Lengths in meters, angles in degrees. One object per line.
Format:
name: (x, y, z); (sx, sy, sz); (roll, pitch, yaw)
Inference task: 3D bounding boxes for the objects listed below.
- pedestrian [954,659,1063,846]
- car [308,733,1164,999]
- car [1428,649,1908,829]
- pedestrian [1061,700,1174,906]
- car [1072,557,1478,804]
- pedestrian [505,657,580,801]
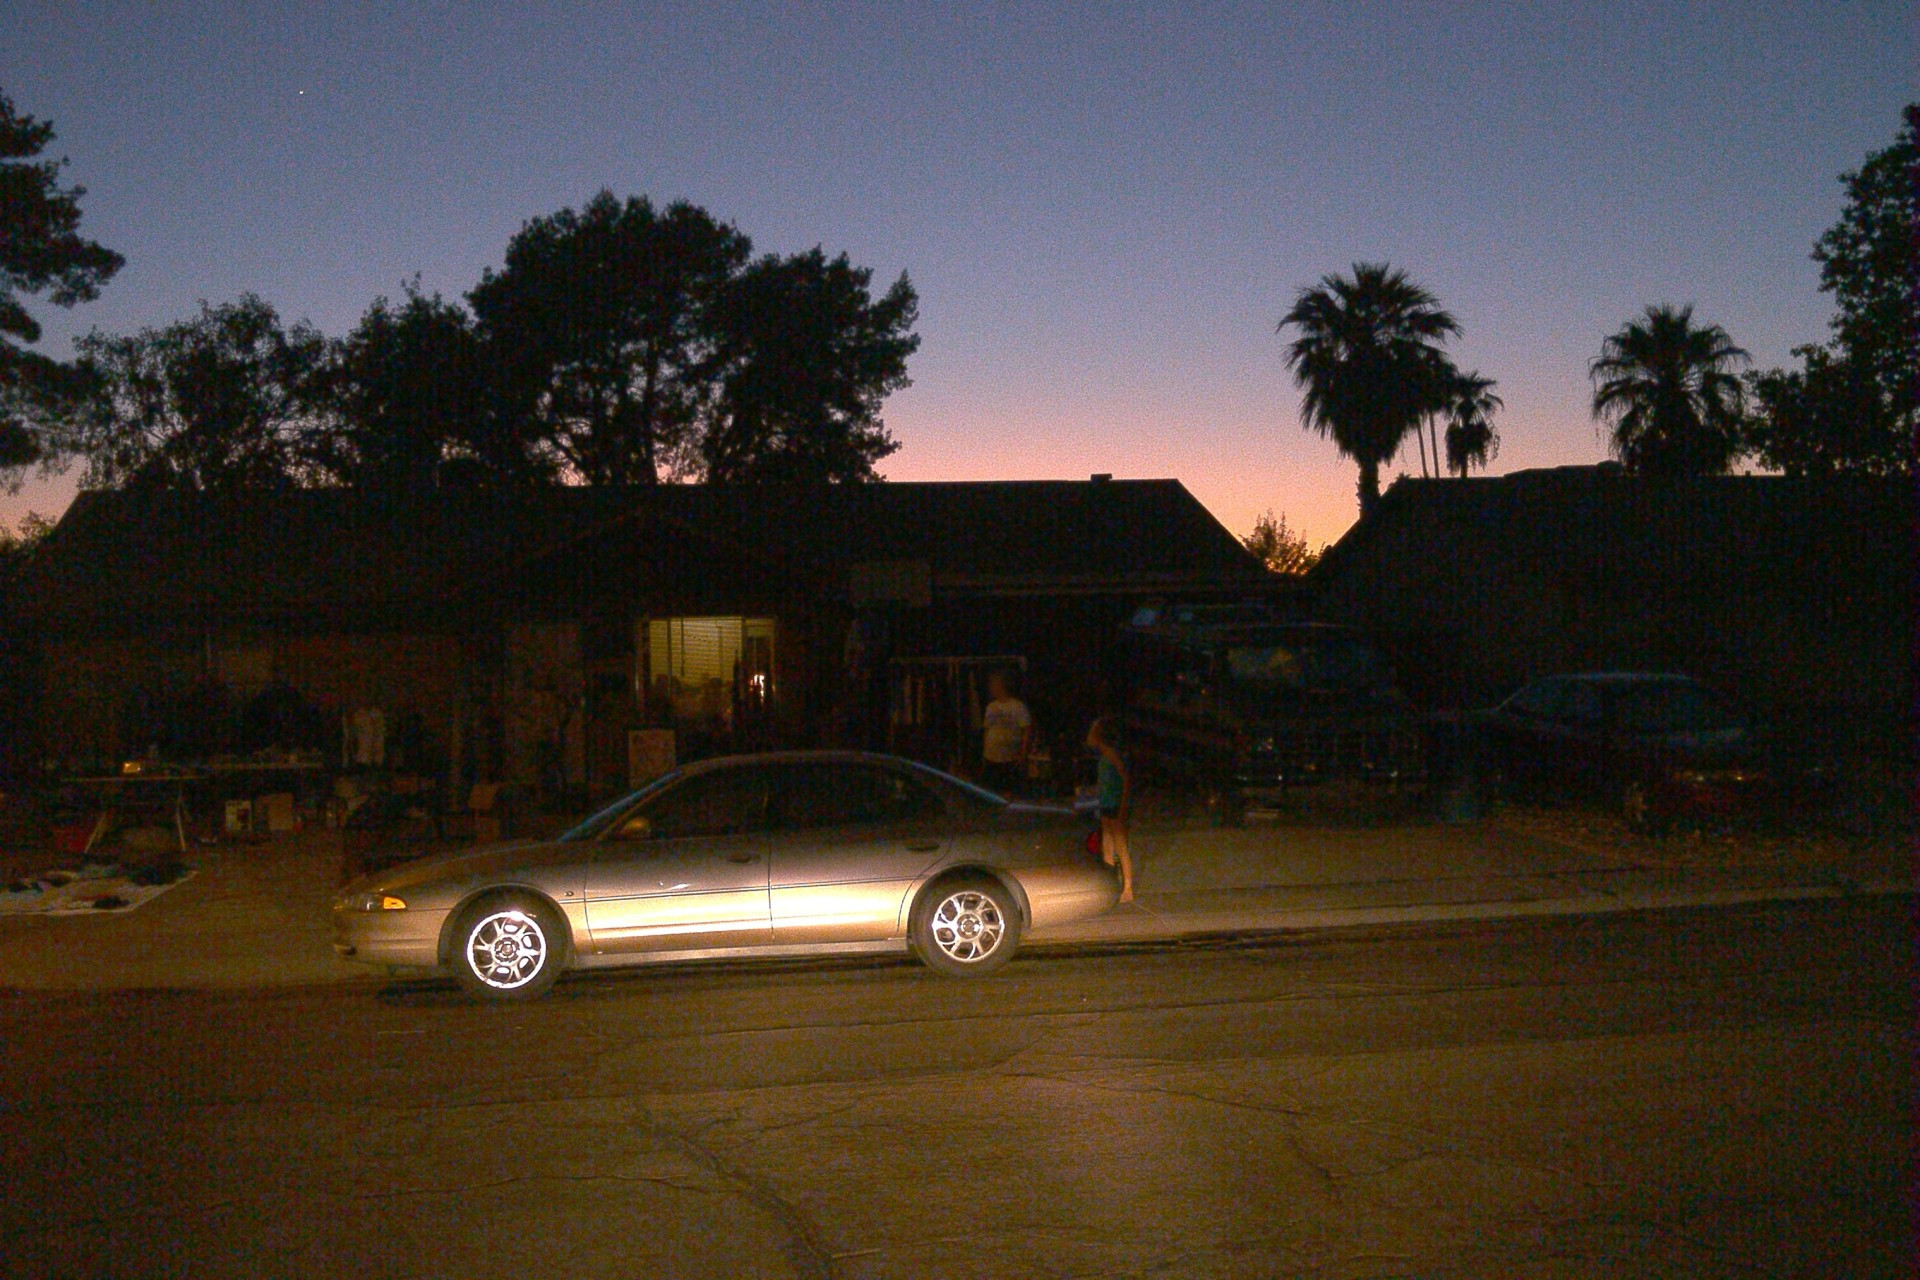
pedestrian: (0.443, 1.027, 19.288); (0.832, 1.690, 0.834); (0, -1, -13)
car: (-1.441, 1.360, 13.430); (5.054, 1.450, 2.237); (0, -1, -11)
car: (6.847, 0.920, 20.867); (2.146, 1.570, 5.085); (0, -1, -14)
pedestrian: (1.235, 1.244, 16.178); (0.834, 1.540, 0.878); (0, -1, 7)
car: (3.149, 0.436, 22.331); (2.591, 2.310, 5.424); (0, -1, -11)
pedestrian: (-4.818, 1.018, 24.007); (0.812, 1.640, 0.647); (0, -1, -9)
